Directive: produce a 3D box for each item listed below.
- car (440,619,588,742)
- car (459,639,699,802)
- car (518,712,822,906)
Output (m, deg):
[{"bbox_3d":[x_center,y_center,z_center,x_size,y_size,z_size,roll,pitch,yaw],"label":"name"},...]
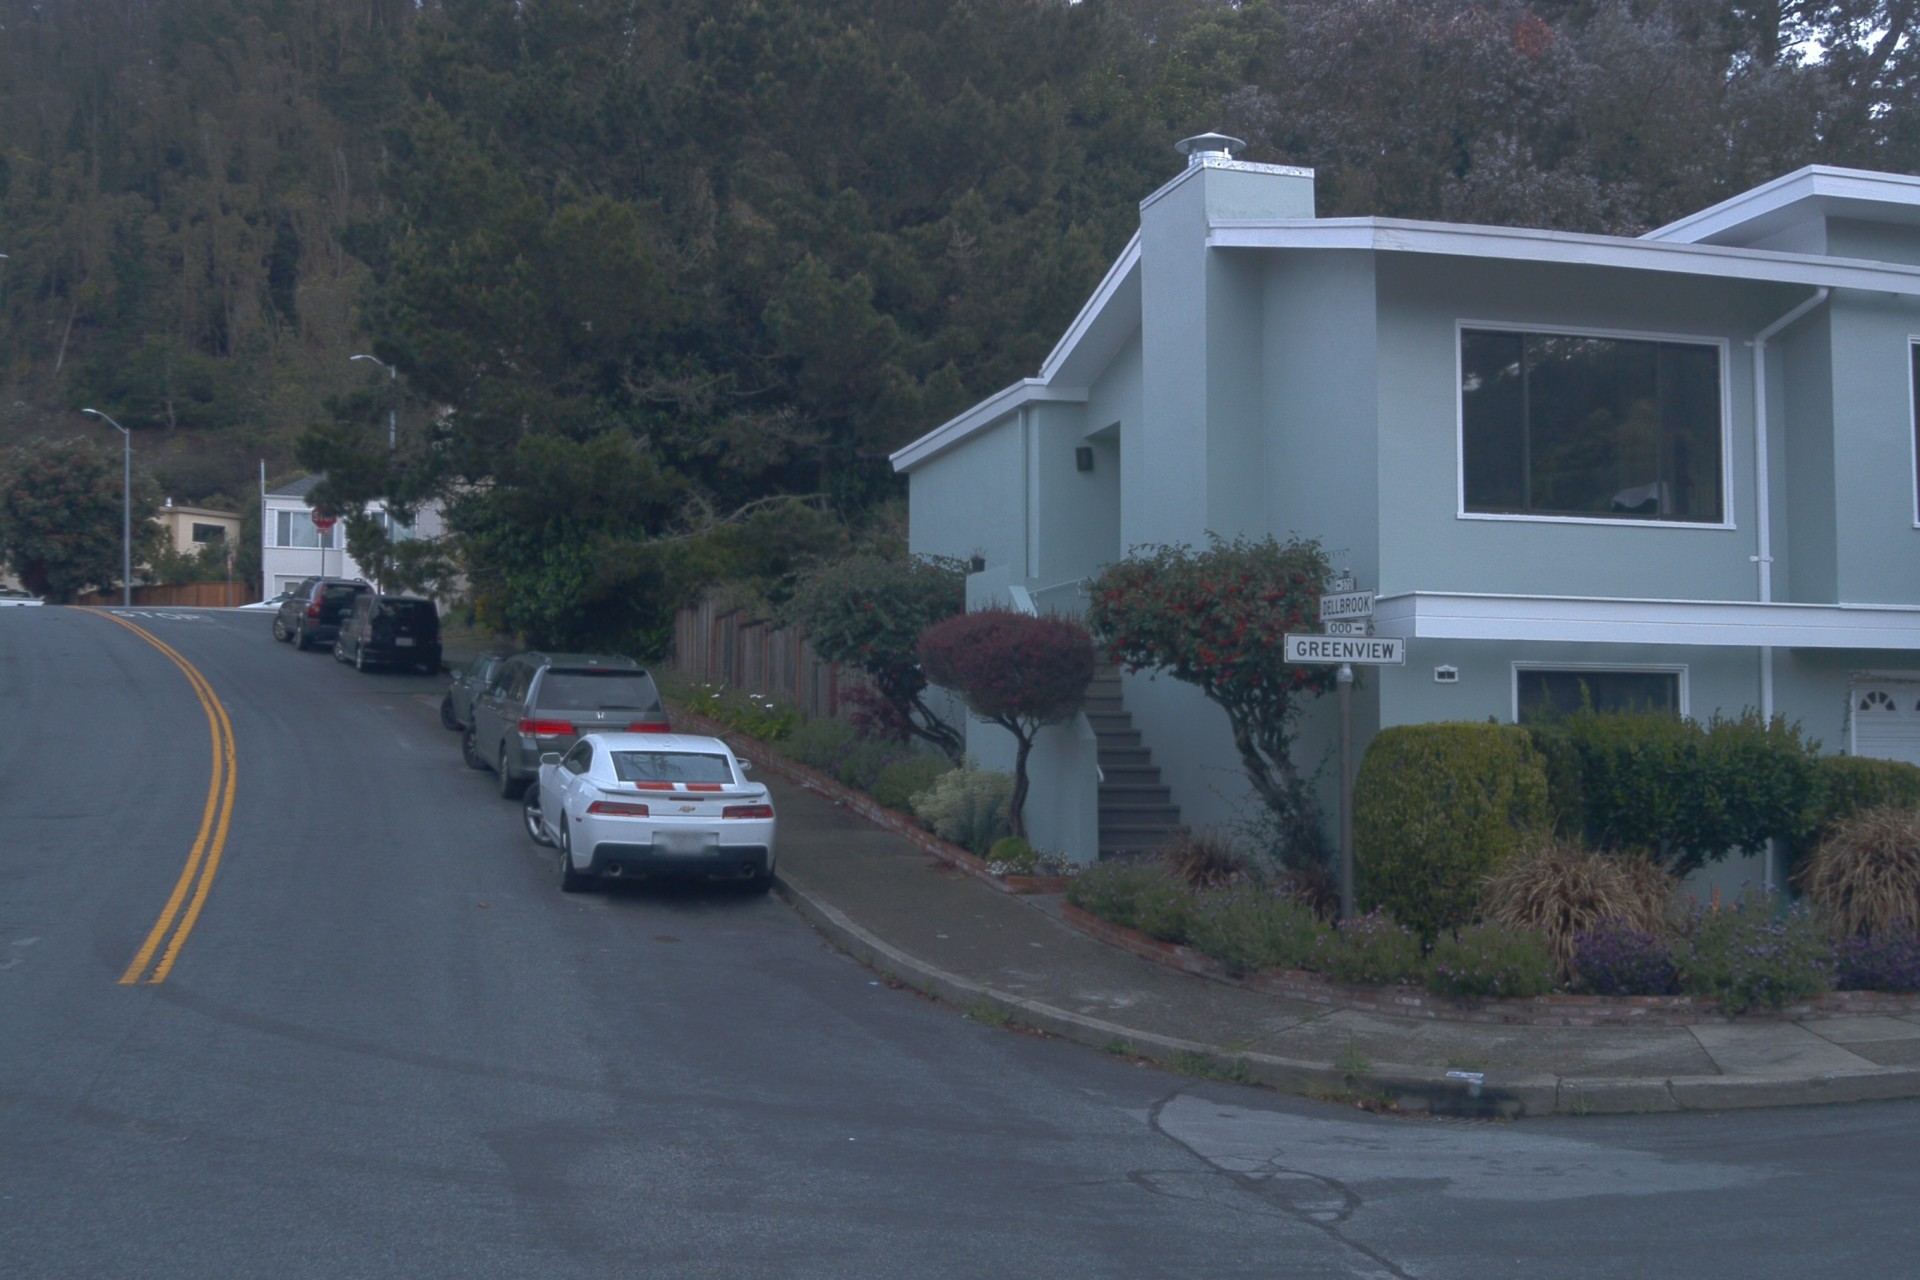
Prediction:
[{"bbox_3d":[-7.008,0.605,32.323,1.721,1.820,3.409,0,0,-21],"label":"car"},{"bbox_3d":[-5.030,0.953,26.771,2.316,1.910,4.712,0,0,-20],"label":"car"},{"bbox_3d":[-3.010,1.538,20.424,2.197,1.510,4.909,0,0,-17],"label":"car"}]
